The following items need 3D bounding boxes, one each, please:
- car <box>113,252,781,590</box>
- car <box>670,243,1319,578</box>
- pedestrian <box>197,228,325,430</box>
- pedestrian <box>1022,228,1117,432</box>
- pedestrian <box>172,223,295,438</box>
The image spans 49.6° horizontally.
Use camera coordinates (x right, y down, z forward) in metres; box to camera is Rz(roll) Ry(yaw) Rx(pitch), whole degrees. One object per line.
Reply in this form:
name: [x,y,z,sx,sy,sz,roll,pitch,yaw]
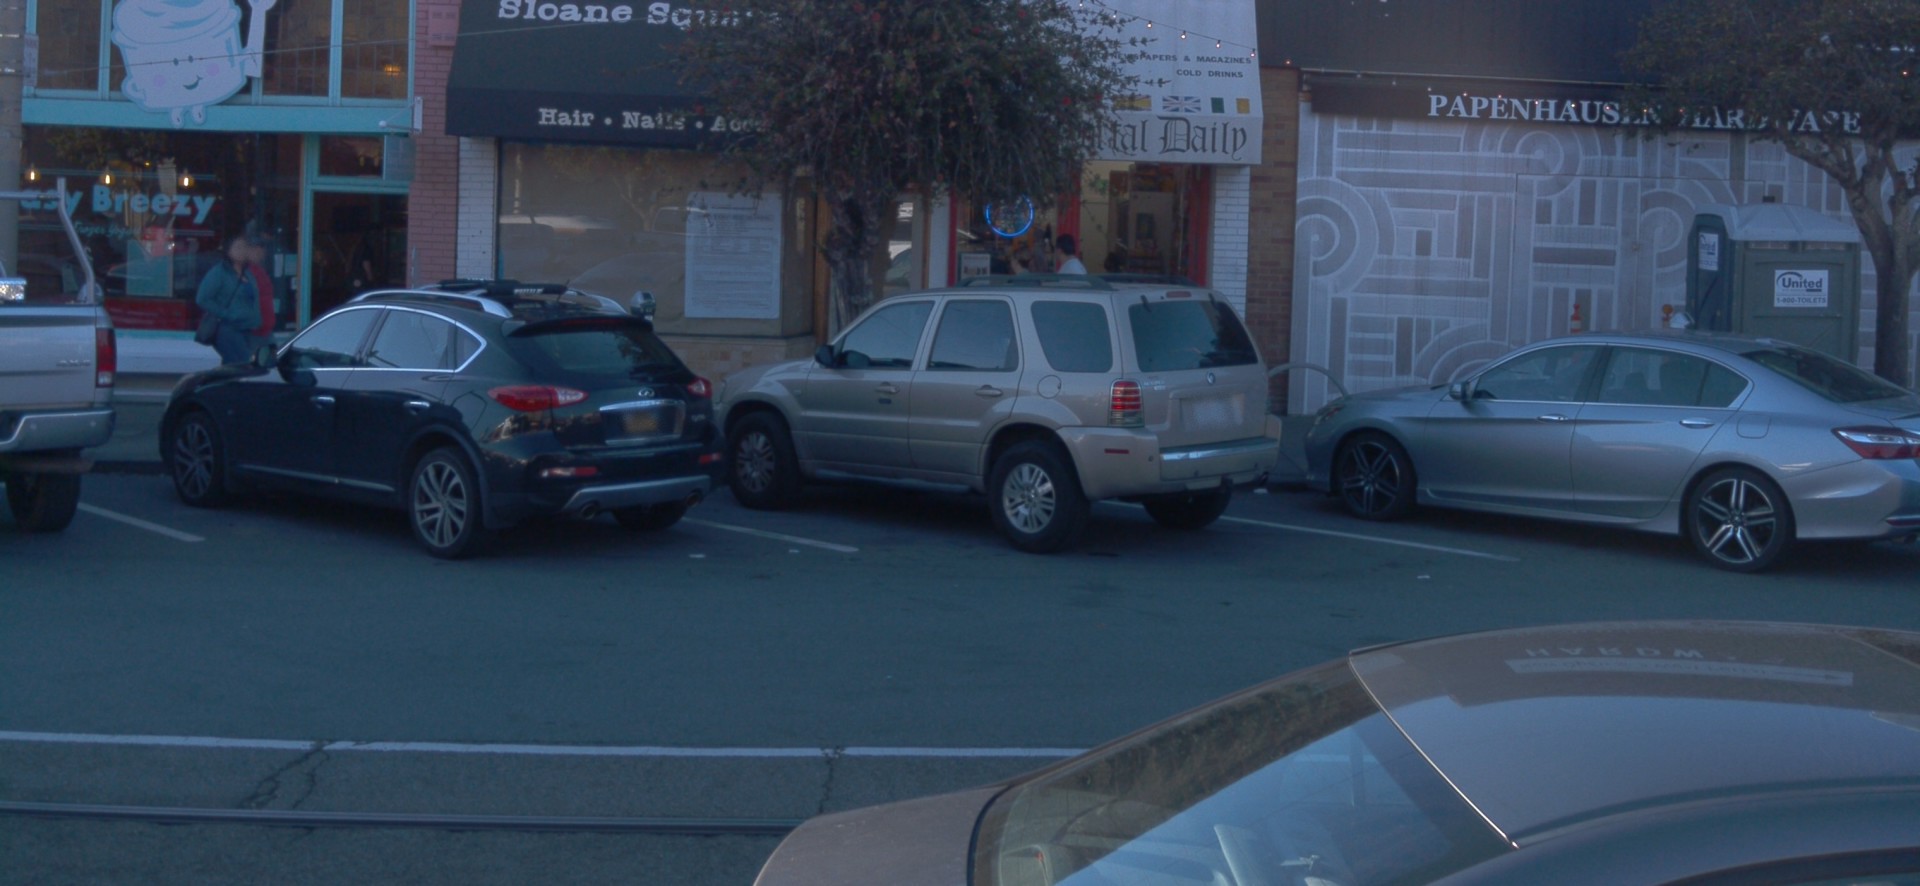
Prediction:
car: [-3.584,-0.332,14.077,4.523,1.793,2.116,6,6,40]
car: [0.131,-0.405,14.585,4.242,1.892,2.078,6,7,43]
pedestrian: [-6.177,-1.032,18.385,0.799,1.726,0.924,1,2,0]
pedestrian: [1.000,-1.060,19.137,0.733,1.816,0.921,1,2,-6]
pedestrian: [-6.138,-0.972,17.572,0.725,1.757,0.809,1,2,0]
